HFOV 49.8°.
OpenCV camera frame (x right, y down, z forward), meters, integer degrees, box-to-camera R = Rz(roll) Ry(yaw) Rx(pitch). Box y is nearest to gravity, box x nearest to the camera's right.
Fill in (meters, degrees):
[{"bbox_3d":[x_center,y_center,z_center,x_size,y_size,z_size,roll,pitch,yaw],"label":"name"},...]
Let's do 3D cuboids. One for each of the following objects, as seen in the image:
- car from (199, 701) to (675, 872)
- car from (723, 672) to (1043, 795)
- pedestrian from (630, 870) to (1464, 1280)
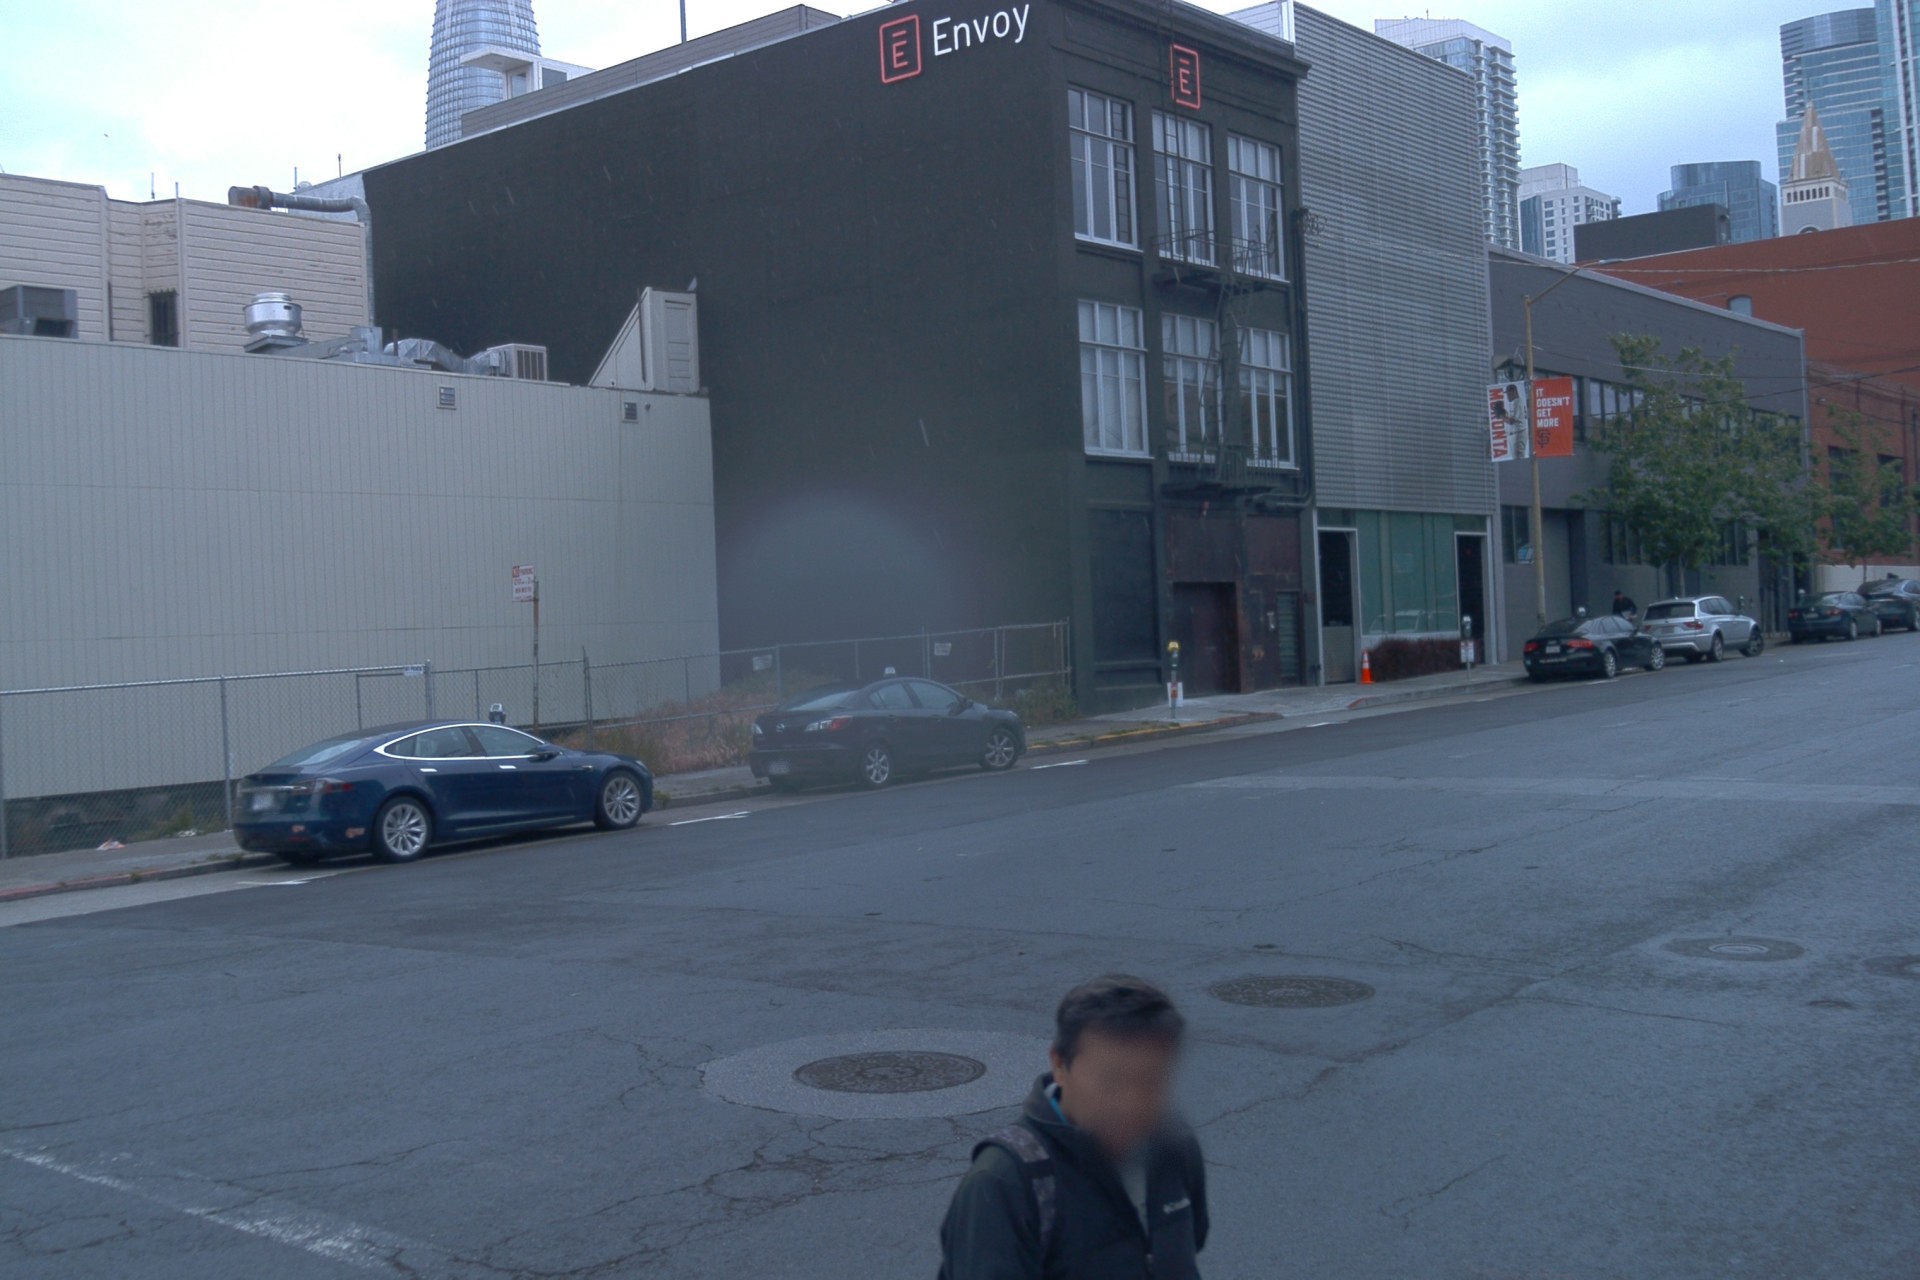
[{"bbox_3d":[-5.536,1.486,22.477,2.011,1.550,4.769,0,-1,38],"label":"car"},{"bbox_3d":[-0.968,1.202,28.130,2.005,1.500,4.289,0,-1,39],"label":"car"},{"bbox_3d":[0.138,1.269,3.263,1.031,1.680,0.804,0,-1,39],"label":"pedestrian"}]
